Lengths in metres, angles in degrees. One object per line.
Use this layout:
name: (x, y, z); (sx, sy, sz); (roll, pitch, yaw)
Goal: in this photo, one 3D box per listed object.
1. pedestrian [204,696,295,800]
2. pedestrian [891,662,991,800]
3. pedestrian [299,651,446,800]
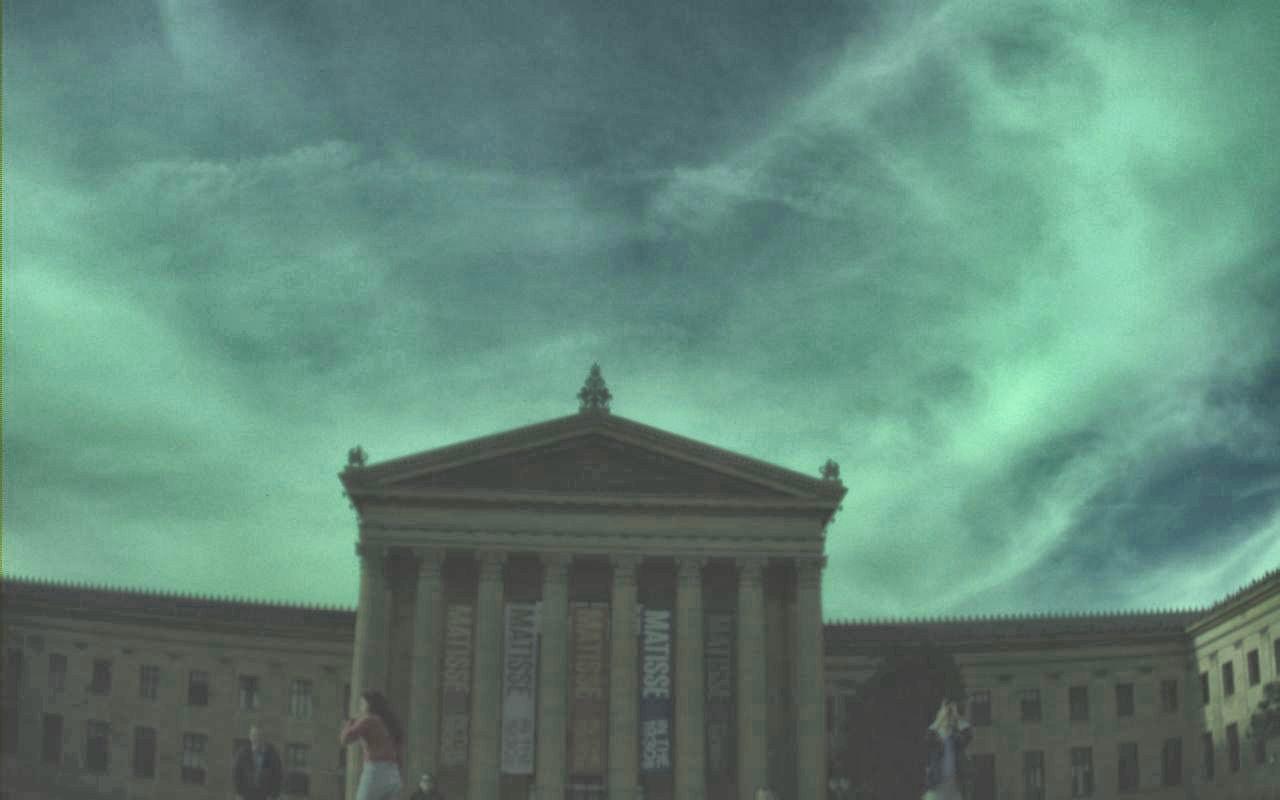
pedestrian: (-4.220, 4.144, 12.417); (0.830, 1.718, 0.819); (0, 0, -14)
pedestrian: (2.892, 3.457, 11.337); (0.791, 1.751, 0.785); (1, 0, 18)
pedestrian: (-2.104, 2.913, 9.235); (0.830, 1.723, 0.821); (0, 0, -35)
